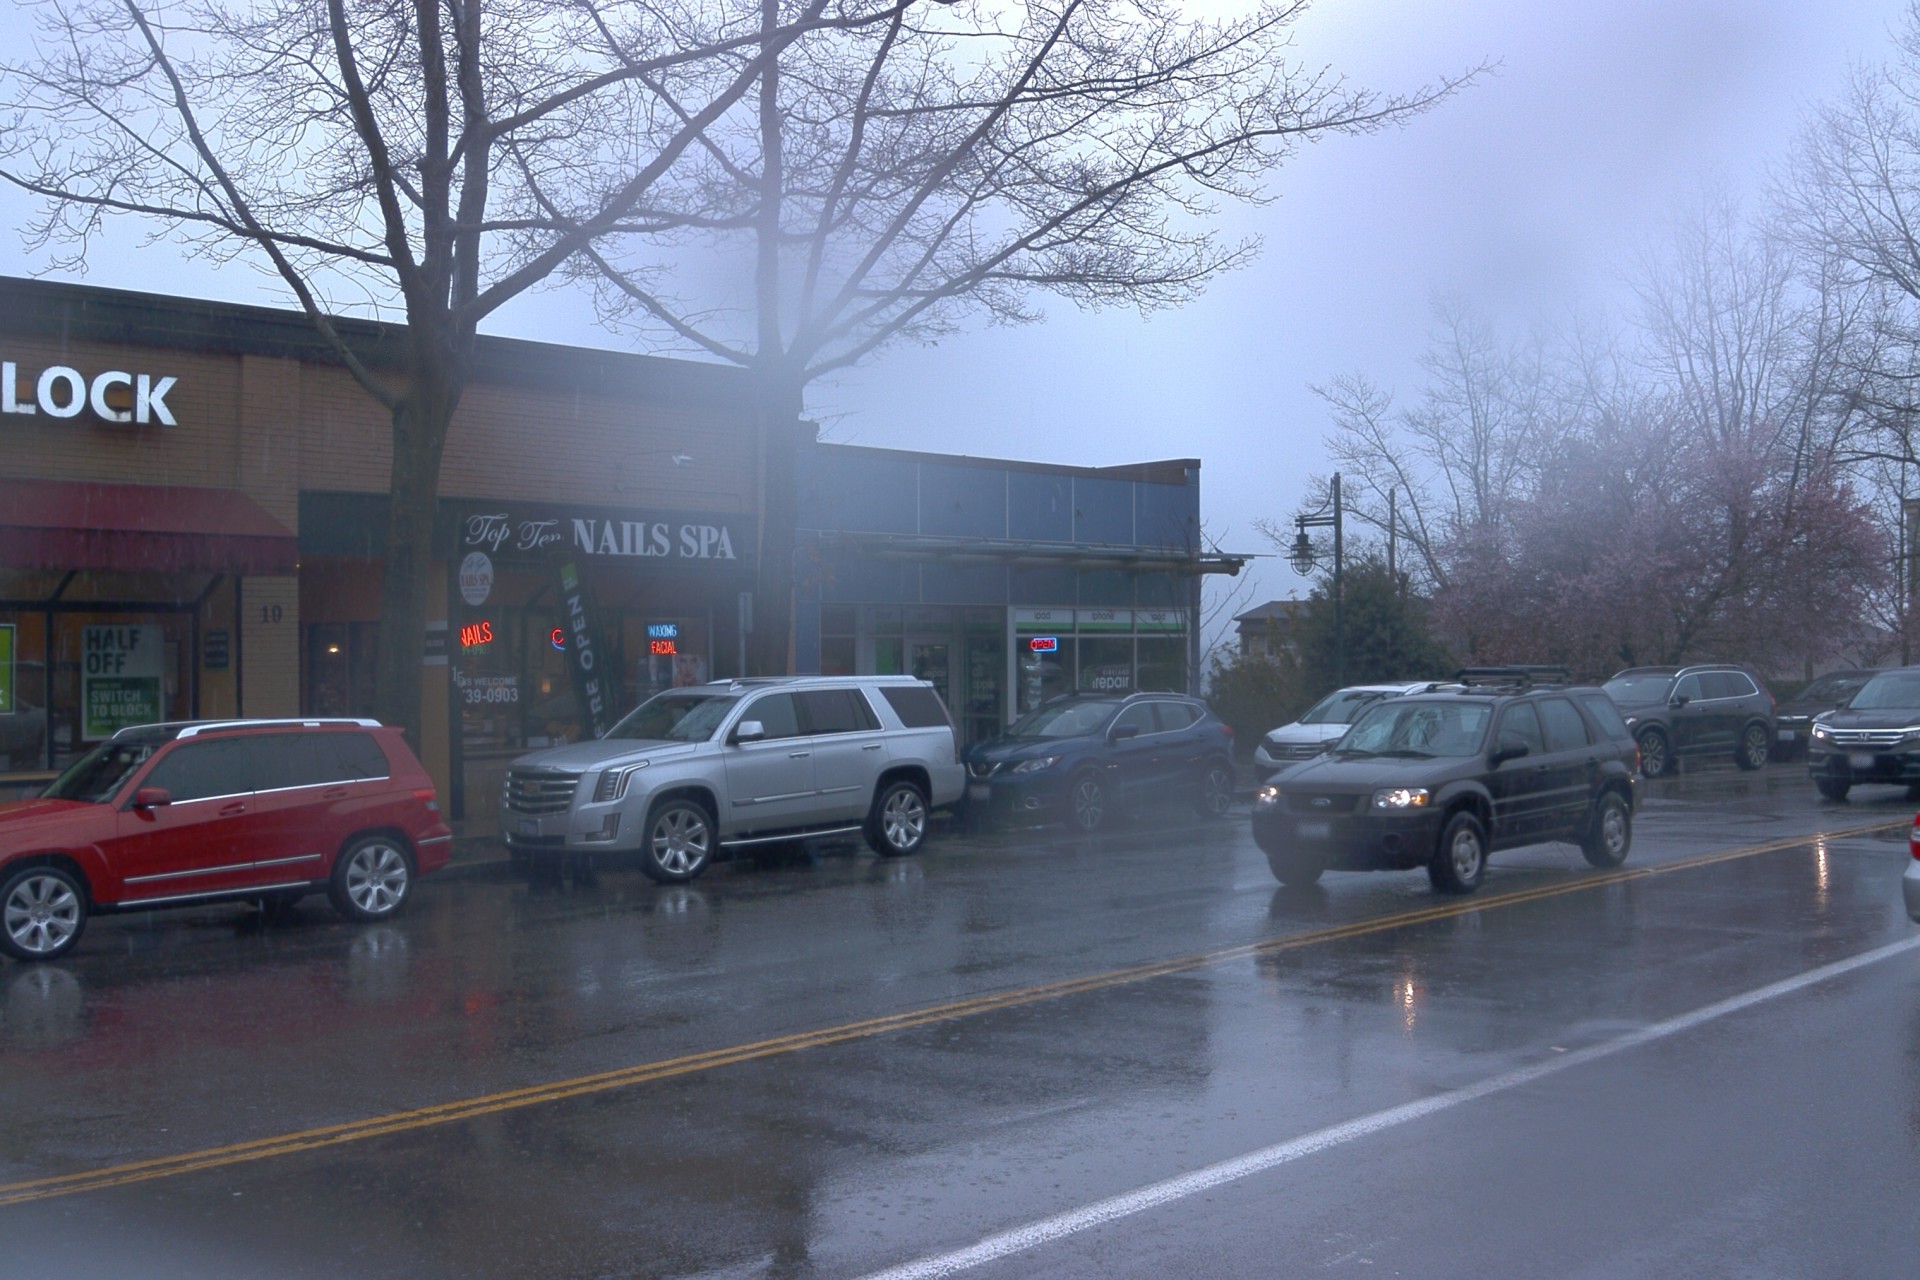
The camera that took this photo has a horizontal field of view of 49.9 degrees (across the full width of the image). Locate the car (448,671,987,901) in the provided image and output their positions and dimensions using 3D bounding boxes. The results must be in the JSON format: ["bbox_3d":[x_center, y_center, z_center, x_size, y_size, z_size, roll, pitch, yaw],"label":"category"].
[{"bbox_3d":[-2.323,1.342,21.042,2.331,1.890,5.194,1,1,42],"label":"car"}]

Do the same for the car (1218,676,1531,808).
[{"bbox_3d":[5.998,1.388,29.599,4.481,1.610,2.181,-1,1,-43],"label":"car"}]

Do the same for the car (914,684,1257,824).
[{"bbox_3d":[1.622,1.321,25.280,1.999,1.400,4.335,1,1,40],"label":"car"}]

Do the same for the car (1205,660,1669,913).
[{"bbox_3d":[4.361,1.165,18.395,1.956,1.860,4.594,1,1,43],"label":"car"}]
